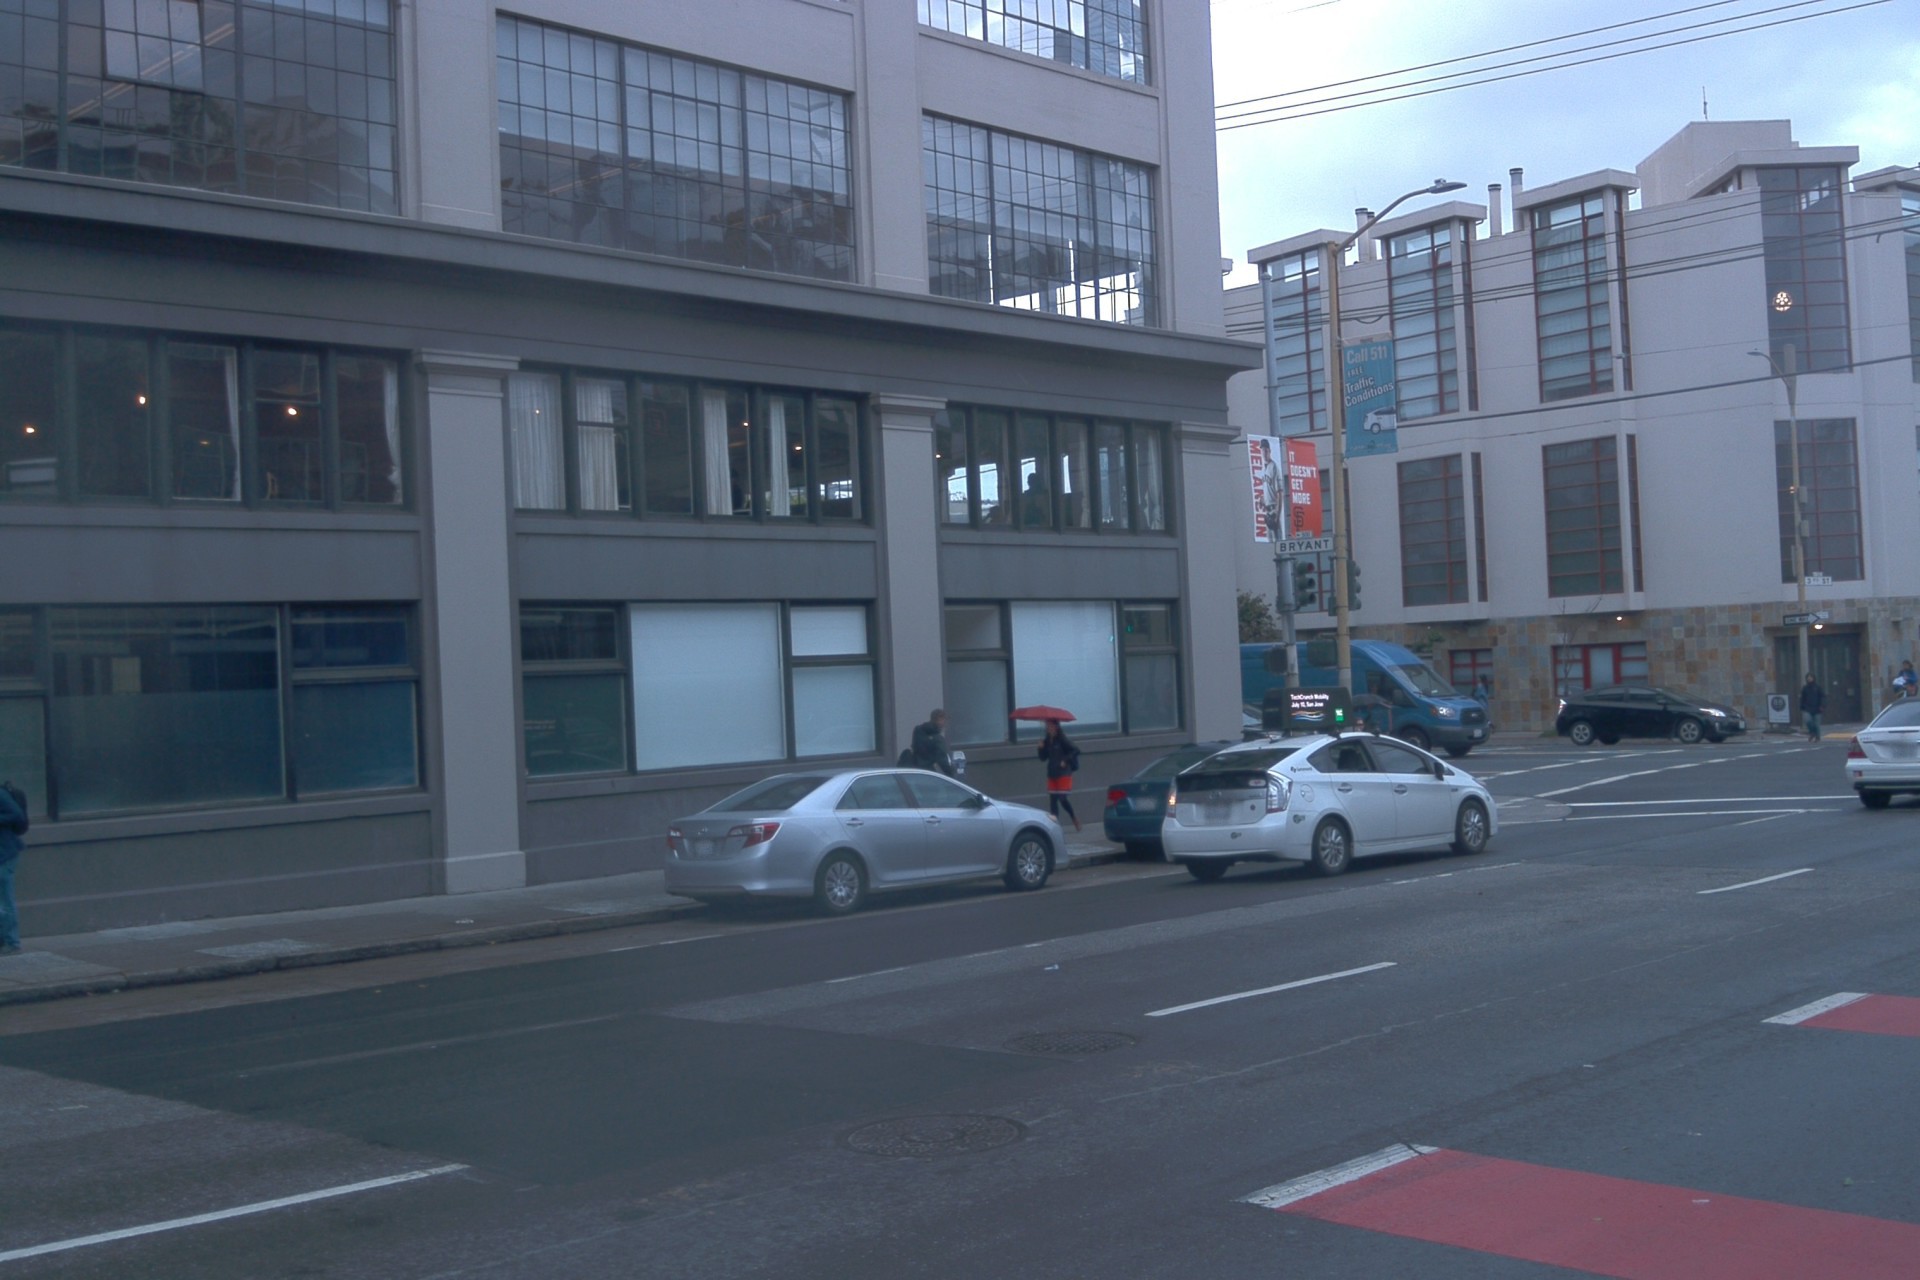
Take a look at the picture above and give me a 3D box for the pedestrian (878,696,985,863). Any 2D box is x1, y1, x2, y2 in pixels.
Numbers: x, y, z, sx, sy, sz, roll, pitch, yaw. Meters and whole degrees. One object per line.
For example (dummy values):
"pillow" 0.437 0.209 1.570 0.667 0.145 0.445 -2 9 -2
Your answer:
"pedestrian" -0.354 1.713 25.971 0.909 1.990 0.967 0 0 41

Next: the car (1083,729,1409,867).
"car" 3.767 1.968 26.844 1.913 1.440 4.430 0 0 44

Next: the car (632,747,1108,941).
"car" -0.830 2.048 22.011 2.014 1.570 4.989 0 0 45

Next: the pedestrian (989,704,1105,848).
"pedestrian" 1.204 1.858 28.838 1.124 1.900 1.157 0 0 45

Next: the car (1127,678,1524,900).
"car" 4.076 1.501 22.693 2.037 2.090 4.605 0 0 44
